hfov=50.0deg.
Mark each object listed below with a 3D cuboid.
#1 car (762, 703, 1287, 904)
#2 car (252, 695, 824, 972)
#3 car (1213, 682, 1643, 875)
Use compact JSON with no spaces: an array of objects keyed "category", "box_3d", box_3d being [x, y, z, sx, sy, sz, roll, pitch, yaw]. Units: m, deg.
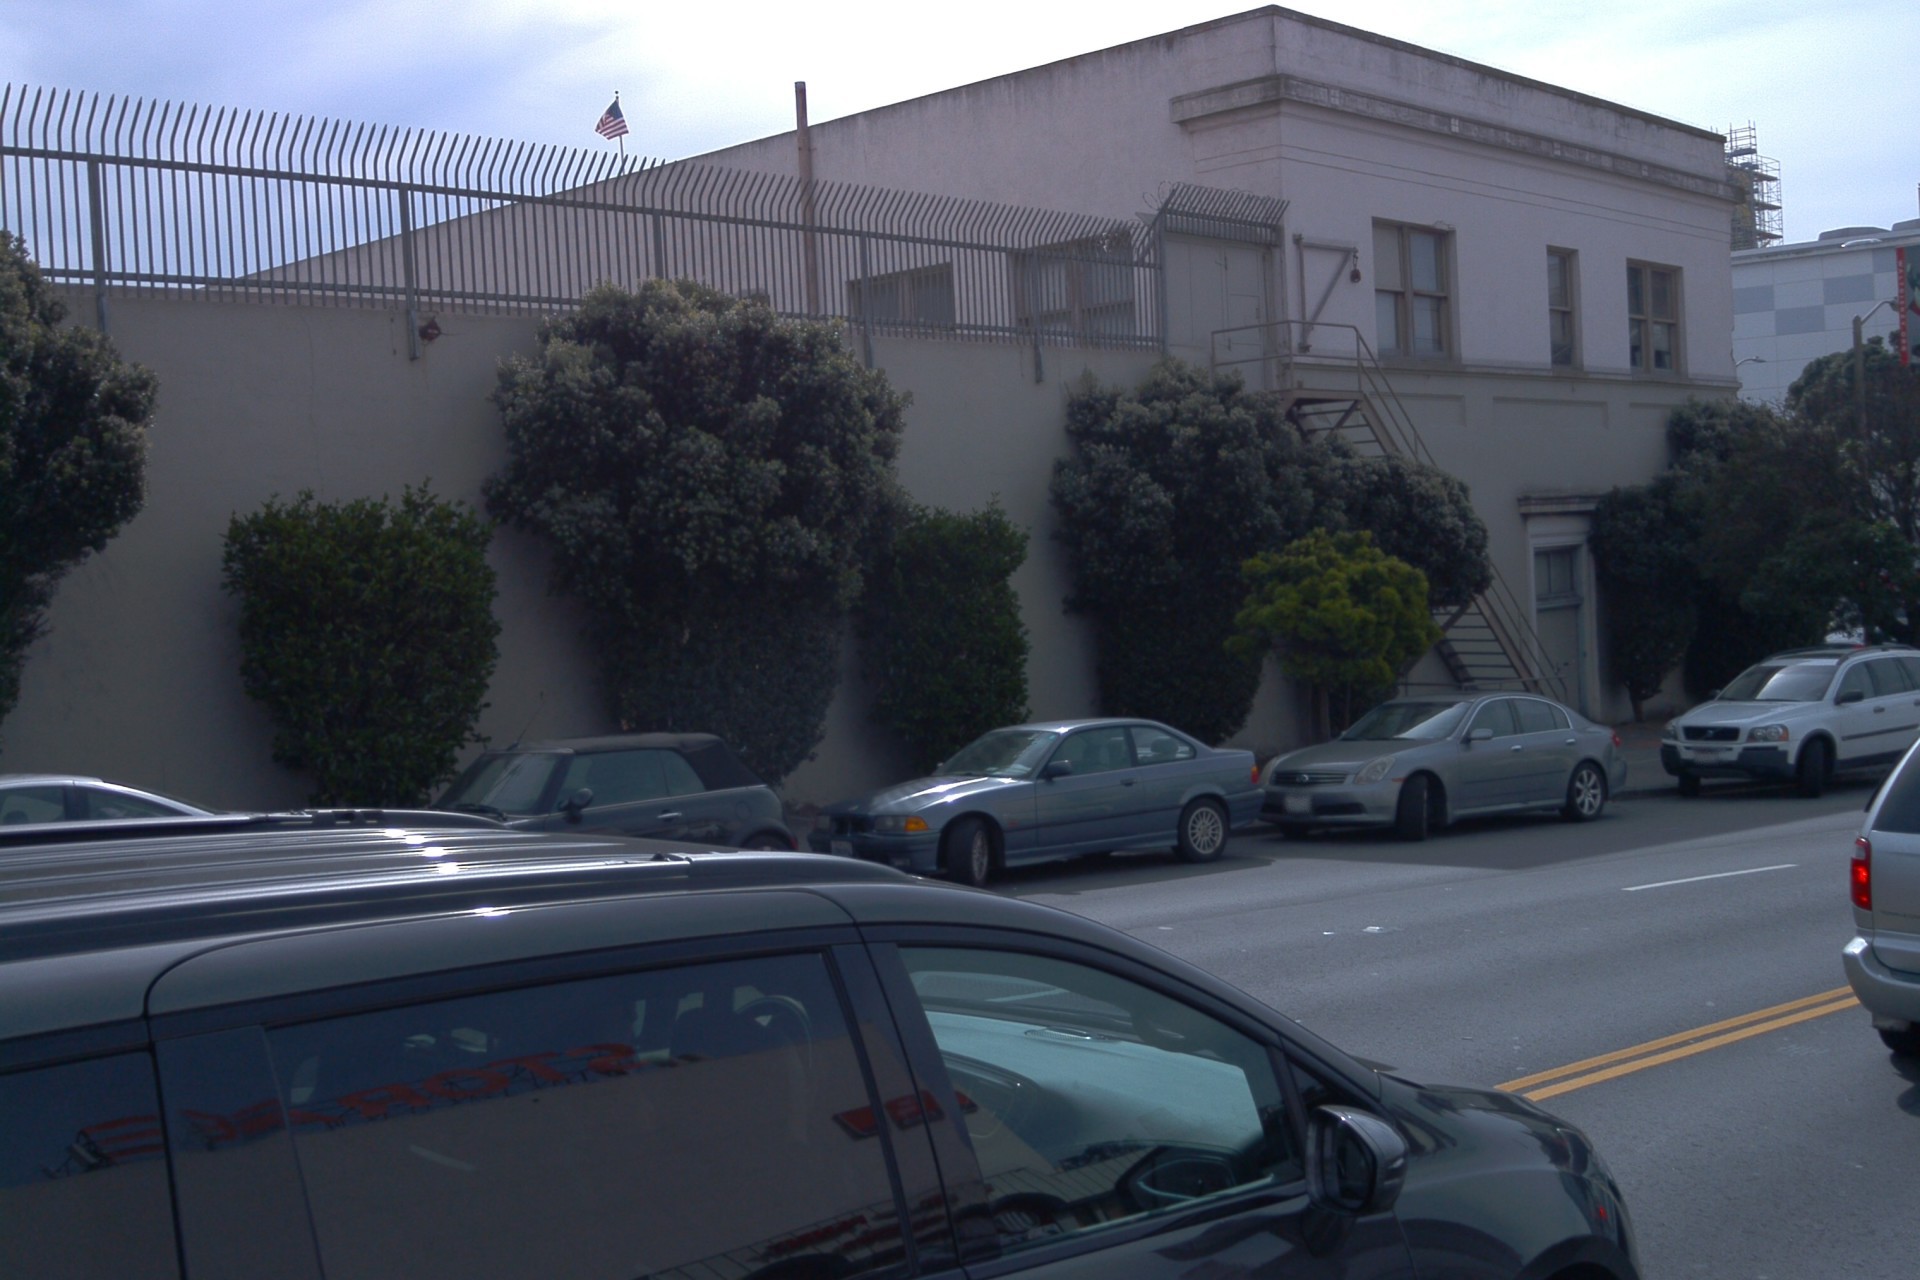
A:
[{"category":"car","box_3d":[0.657,1.363,18.436,4.448,1.390,2.035,-1,1,-39]},{"category":"car","box_3d":[-2.987,1.282,15.034,1.796,1.600,3.729,1,1,44]},{"category":"car","box_3d":[5.011,1.355,21.683,4.687,1.660,2.019,-1,1,-41]}]
